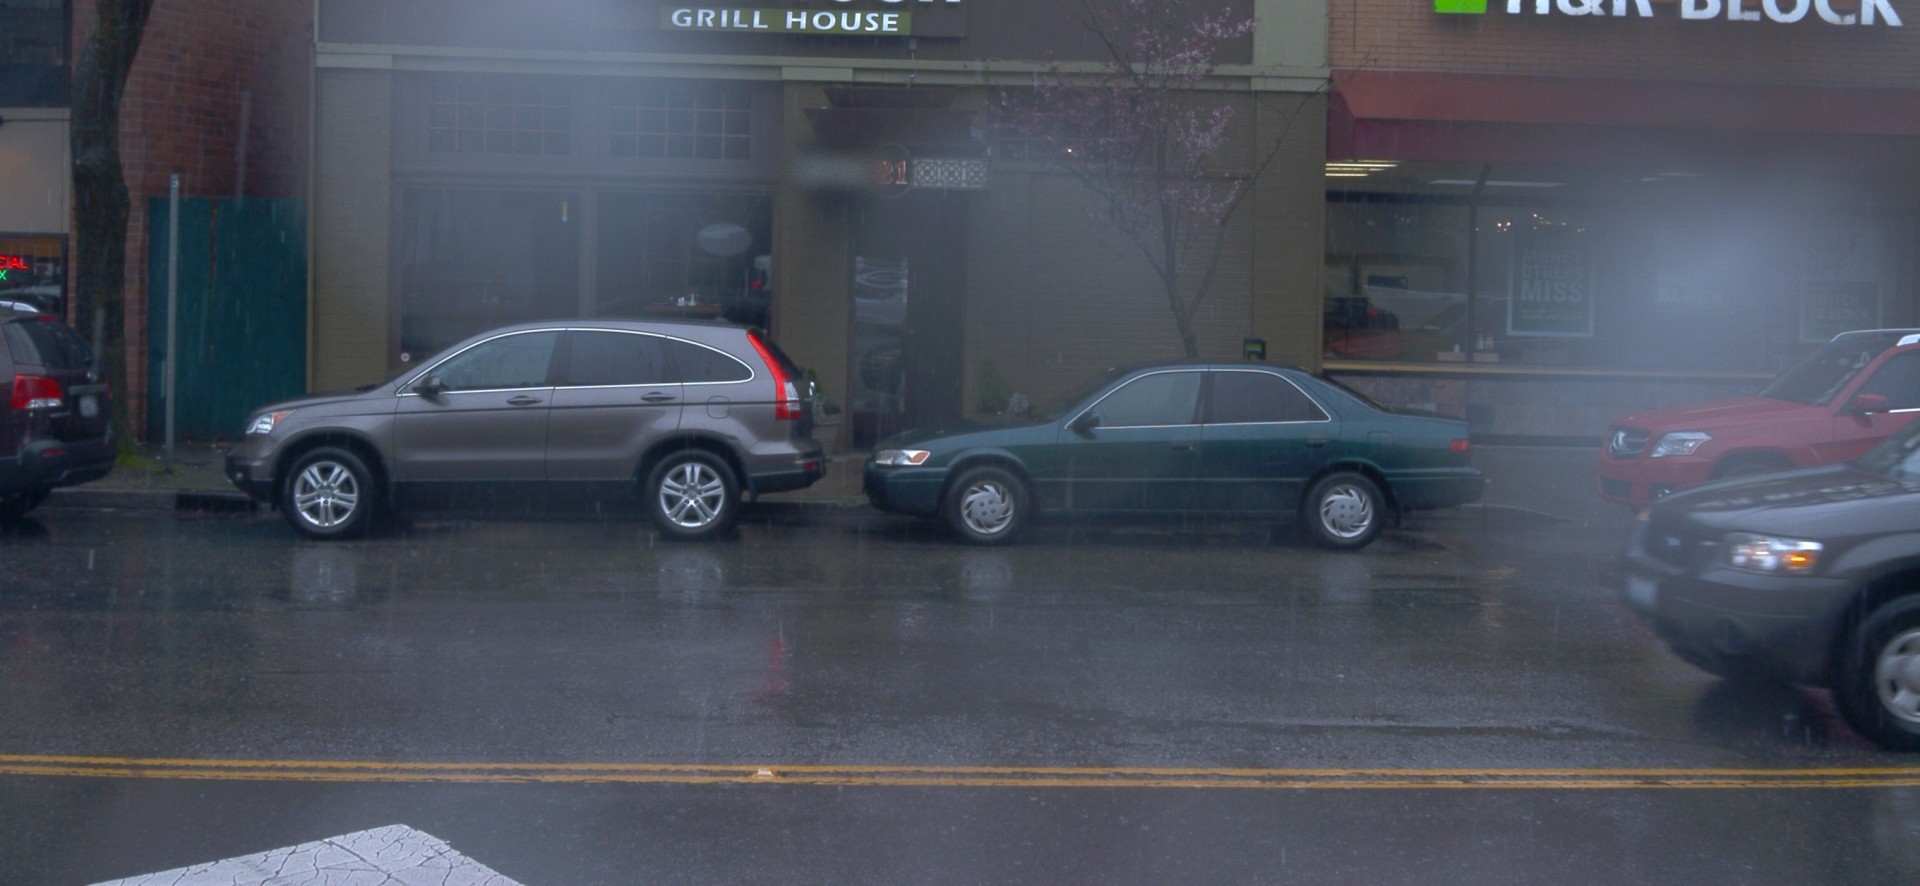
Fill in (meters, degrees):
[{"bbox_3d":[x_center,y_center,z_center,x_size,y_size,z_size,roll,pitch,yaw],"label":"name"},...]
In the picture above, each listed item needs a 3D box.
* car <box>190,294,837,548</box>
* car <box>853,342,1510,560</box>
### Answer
[{"bbox_3d":[-3.281,-0.216,15.797,4.605,1.724,1.918,0,4,-5],"label":"car"},{"bbox_3d":[1.593,0.017,15.965,4.796,1.414,1.988,1,5,-2],"label":"car"}]
